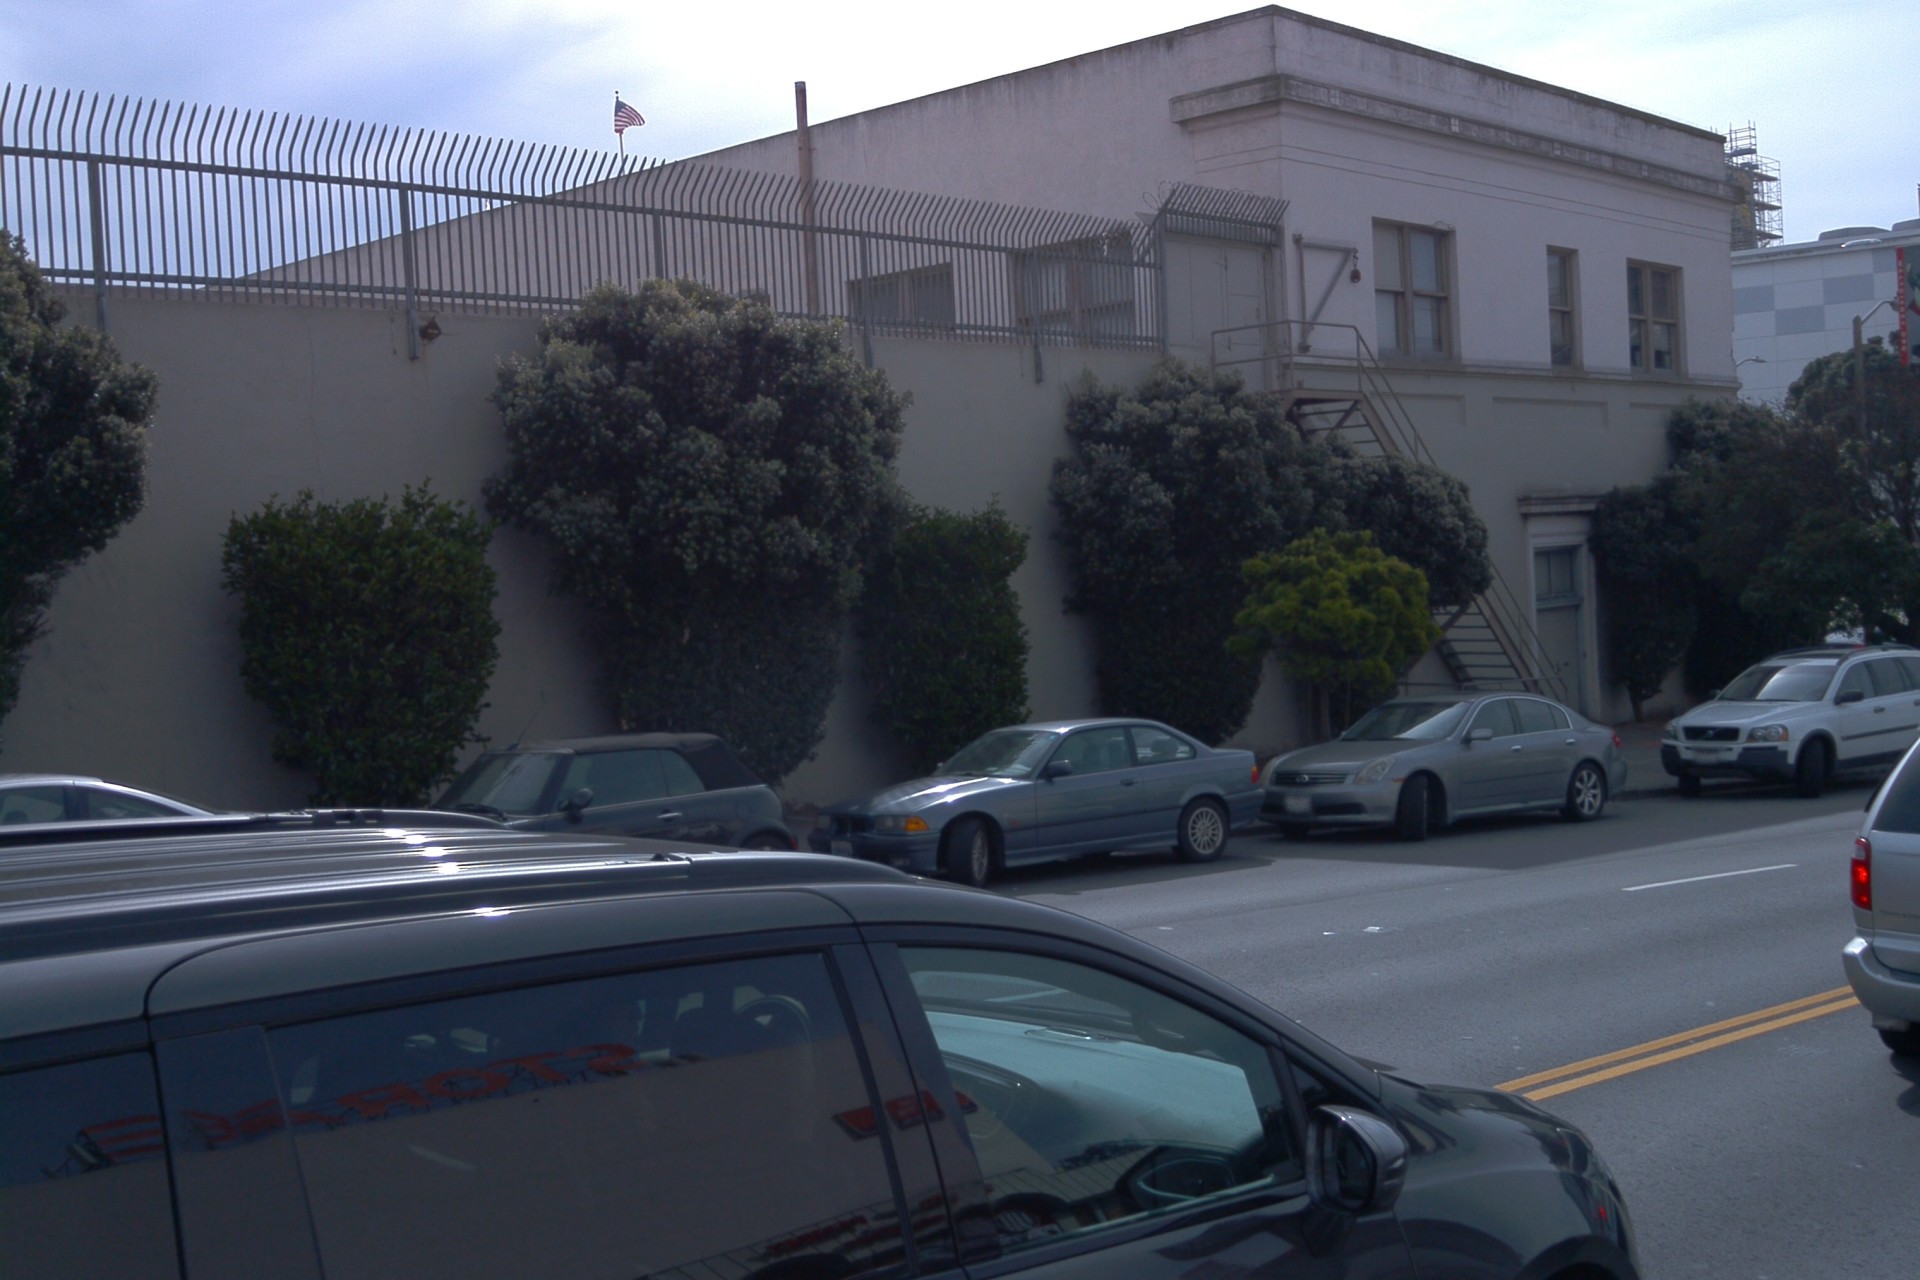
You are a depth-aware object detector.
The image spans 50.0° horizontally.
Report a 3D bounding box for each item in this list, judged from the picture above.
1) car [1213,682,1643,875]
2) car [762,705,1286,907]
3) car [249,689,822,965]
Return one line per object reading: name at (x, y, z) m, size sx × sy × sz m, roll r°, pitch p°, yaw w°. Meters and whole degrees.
car at (5.011, 1.354, 21.684) m, size 4.687 × 1.660 × 2.019 m, roll -1°, pitch 1°, yaw -41°
car at (0.650, 1.382, 18.445) m, size 4.448 × 1.390 × 2.035 m, roll -1°, pitch 1°, yaw -39°
car at (-2.995, 1.233, 15.000) m, size 1.796 × 1.600 × 3.729 m, roll 1°, pitch 1°, yaw 44°
